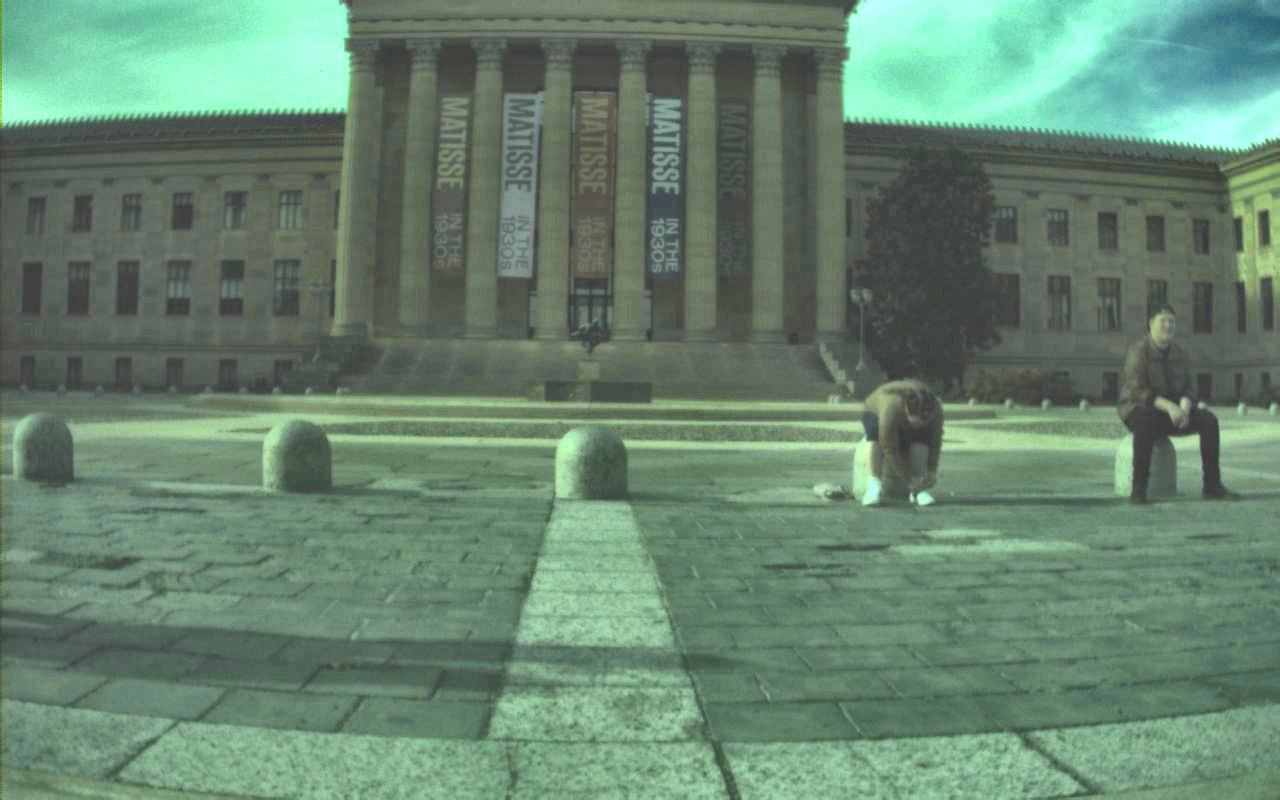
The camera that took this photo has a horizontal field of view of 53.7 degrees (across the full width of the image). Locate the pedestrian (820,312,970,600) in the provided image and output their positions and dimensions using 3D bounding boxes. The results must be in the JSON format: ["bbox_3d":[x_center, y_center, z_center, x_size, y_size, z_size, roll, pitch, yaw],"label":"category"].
[{"bbox_3d":[1.596,0.322,7.655,0.798,1.682,0.831,1,0,20],"label":"pedestrian"}]

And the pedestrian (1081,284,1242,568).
[{"bbox_3d":[3.496,0.177,7.872,0.843,1.796,0.844,0,0,-1],"label":"pedestrian"}]
